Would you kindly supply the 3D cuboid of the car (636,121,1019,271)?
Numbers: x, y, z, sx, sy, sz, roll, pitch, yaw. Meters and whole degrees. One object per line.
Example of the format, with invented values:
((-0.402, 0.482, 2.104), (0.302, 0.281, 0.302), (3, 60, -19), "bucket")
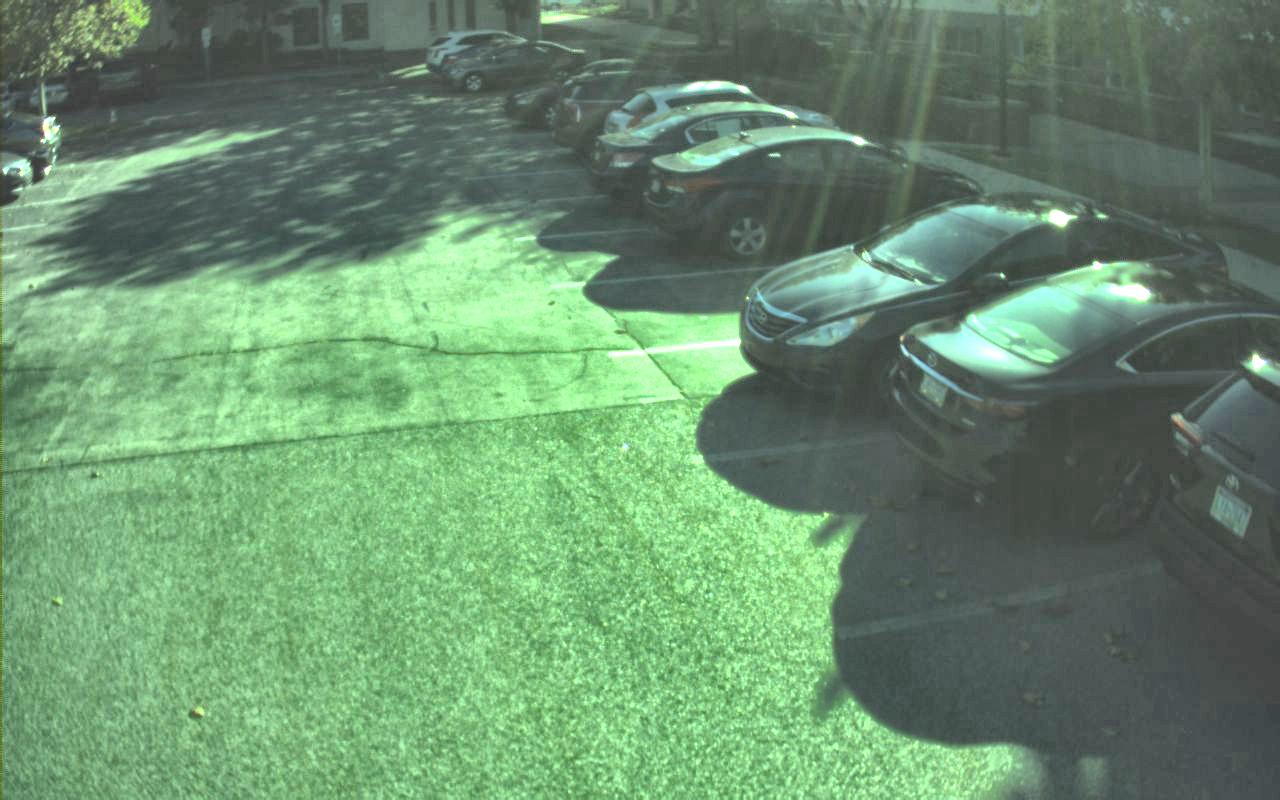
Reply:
((2.328, -2.634, 15.448), (4.421, 1.497, 1.908), (-5, 17, -13), "car")

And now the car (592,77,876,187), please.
((1.528, -4.472, 20.449), (4.322, 1.573, 1.909), (-5, 17, -13), "car")

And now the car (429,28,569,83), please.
((-4.853, -11.745, 41.749), (4.494, 1.638, 1.972), (-6, 17, -16), "car")

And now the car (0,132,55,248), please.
((-14.033, -4.170, 21.732), (4.442, 1.632, 1.949), (-6, 17, -16), "car")

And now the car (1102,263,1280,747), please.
((5.013, 0.326, 6.118), (4.468, 1.673, 1.986), (-6, 17, -15), "car")

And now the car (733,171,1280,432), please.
((3.295, -1.033, 10.499), (4.631, 1.600, 1.991), (-6, 17, -15), "car")

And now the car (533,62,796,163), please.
((0.423, -5.347, 22.872), (4.496, 1.614, 1.964), (-5, 17, -14), "car")

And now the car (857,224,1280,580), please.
((3.848, -0.228, 8.277), (4.356, 1.568, 1.920), (-7, 17, -19), "car")

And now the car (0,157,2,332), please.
((-11.540, -2.191, 14.896), (4.619, 1.741, 2.011), (-6, 17, -16), "car")

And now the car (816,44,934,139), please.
((4.944, -6.666, 26.207), (2.033, 1.788, 4.563), (0, 17, 4), "car")

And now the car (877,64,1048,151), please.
((7.051, -6.526, 26.850), (2.005, 1.611, 4.666), (-5, 17, -12), "car")

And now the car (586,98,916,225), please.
((1.578, -3.503, 17.894), (4.392, 1.510, 1.914), (-5, 17, -12), "car")

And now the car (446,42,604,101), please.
((-3.535, -9.941, 37.206), (4.536, 1.543, 1.949), (-5, 17, -13), "car")
